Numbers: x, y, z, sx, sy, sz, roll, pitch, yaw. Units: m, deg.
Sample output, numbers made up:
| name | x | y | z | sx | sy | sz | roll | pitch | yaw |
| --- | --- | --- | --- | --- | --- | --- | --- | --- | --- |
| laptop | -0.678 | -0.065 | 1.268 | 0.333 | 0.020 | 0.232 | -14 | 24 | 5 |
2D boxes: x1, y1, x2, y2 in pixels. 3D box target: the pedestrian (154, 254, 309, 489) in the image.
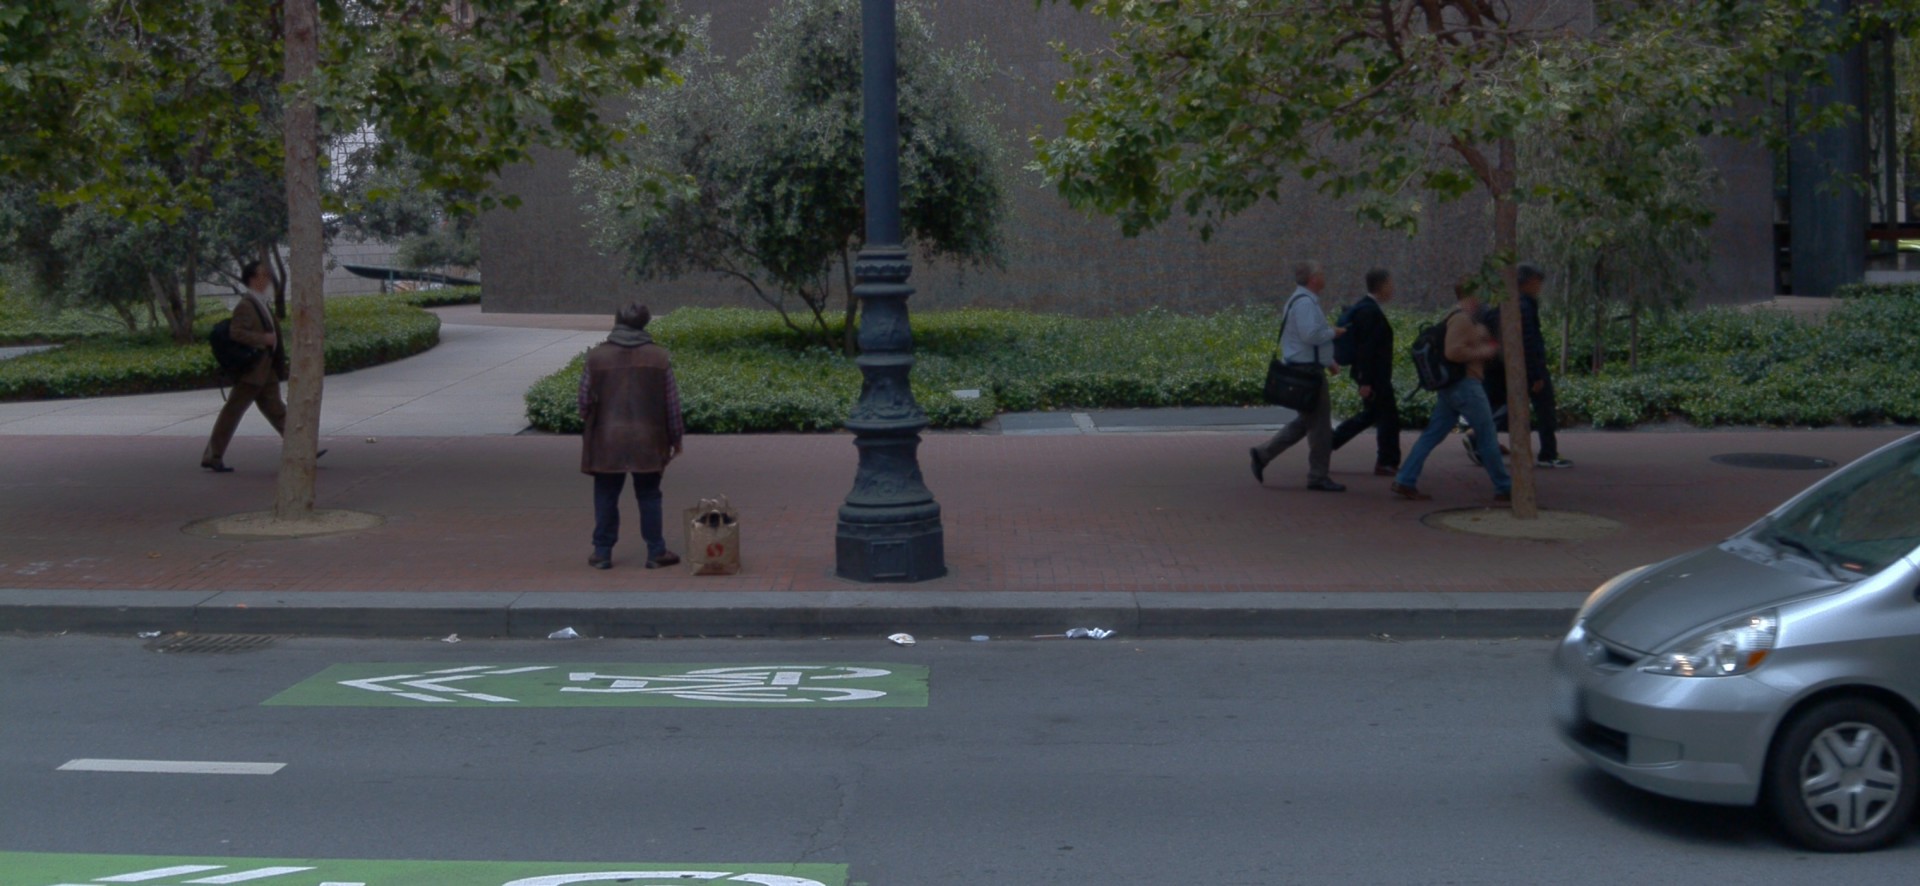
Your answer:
| name | x | y | z | sx | sy | sz | roll | pitch | yaw |
| --- | --- | --- | --- | --- | --- | --- | --- | --- | --- |
| pedestrian | -6.090 | -0.632 | 17.379 | 1.099 | 1.877 | 1.031 | -1 | 2 | -13 |

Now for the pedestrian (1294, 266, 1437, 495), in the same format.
| name | x | y | z | sx | sy | sz | roll | pitch | yaw |
| --- | --- | --- | --- | --- | --- | --- | --- | --- | --- |
| pedestrian | 3.295 | -0.536 | 16.912 | 1.012 | 1.797 | 0.887 | 0 | 2 | 2 |

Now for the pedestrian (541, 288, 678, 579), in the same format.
| name | x | y | z | sx | sy | sz | roll | pitch | yaw |
| --- | --- | --- | --- | --- | --- | --- | --- | --- | --- |
| pedestrian | -2.198 | -0.084 | 13.061 | 0.791 | 1.757 | 0.642 | 0 | 2 | -5 |

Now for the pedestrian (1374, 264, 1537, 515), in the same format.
| name | x | y | z | sx | sy | sz | roll | pitch | yaw |
| --- | --- | --- | --- | --- | --- | --- | --- | --- | --- |
| pedestrian | 3.729 | -0.428 | 15.656 | 1.075 | 1.827 | 0.737 | 0 | 2 | 2 |

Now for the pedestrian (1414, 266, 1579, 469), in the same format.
| name | x | y | z | sx | sy | sz | roll | pitch | yaw |
| --- | --- | --- | --- | --- | --- | --- | --- | --- | --- |
| pedestrian | 4.667 | -0.683 | 18.085 | 1.173 | 1.697 | 0.931 | 0 | 2 | -2 |

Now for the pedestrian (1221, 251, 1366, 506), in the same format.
| name | x | y | z | sx | sy | sz | roll | pitch | yaw |
| --- | --- | --- | --- | --- | --- | --- | --- | --- | --- |
| pedestrian | 2.577 | -0.533 | 16.127 | 1.013 | 1.897 | 0.997 | 0 | 2 | 3 |

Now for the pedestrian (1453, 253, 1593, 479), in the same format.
| name | x | y | z | sx | sy | sz | roll | pitch | yaw |
| --- | --- | --- | --- | --- | --- | --- | --- | --- | --- |
| pedestrian | 4.704 | -0.671 | 17.370 | 0.935 | 1.827 | 0.894 | 0 | 2 | 1 |
